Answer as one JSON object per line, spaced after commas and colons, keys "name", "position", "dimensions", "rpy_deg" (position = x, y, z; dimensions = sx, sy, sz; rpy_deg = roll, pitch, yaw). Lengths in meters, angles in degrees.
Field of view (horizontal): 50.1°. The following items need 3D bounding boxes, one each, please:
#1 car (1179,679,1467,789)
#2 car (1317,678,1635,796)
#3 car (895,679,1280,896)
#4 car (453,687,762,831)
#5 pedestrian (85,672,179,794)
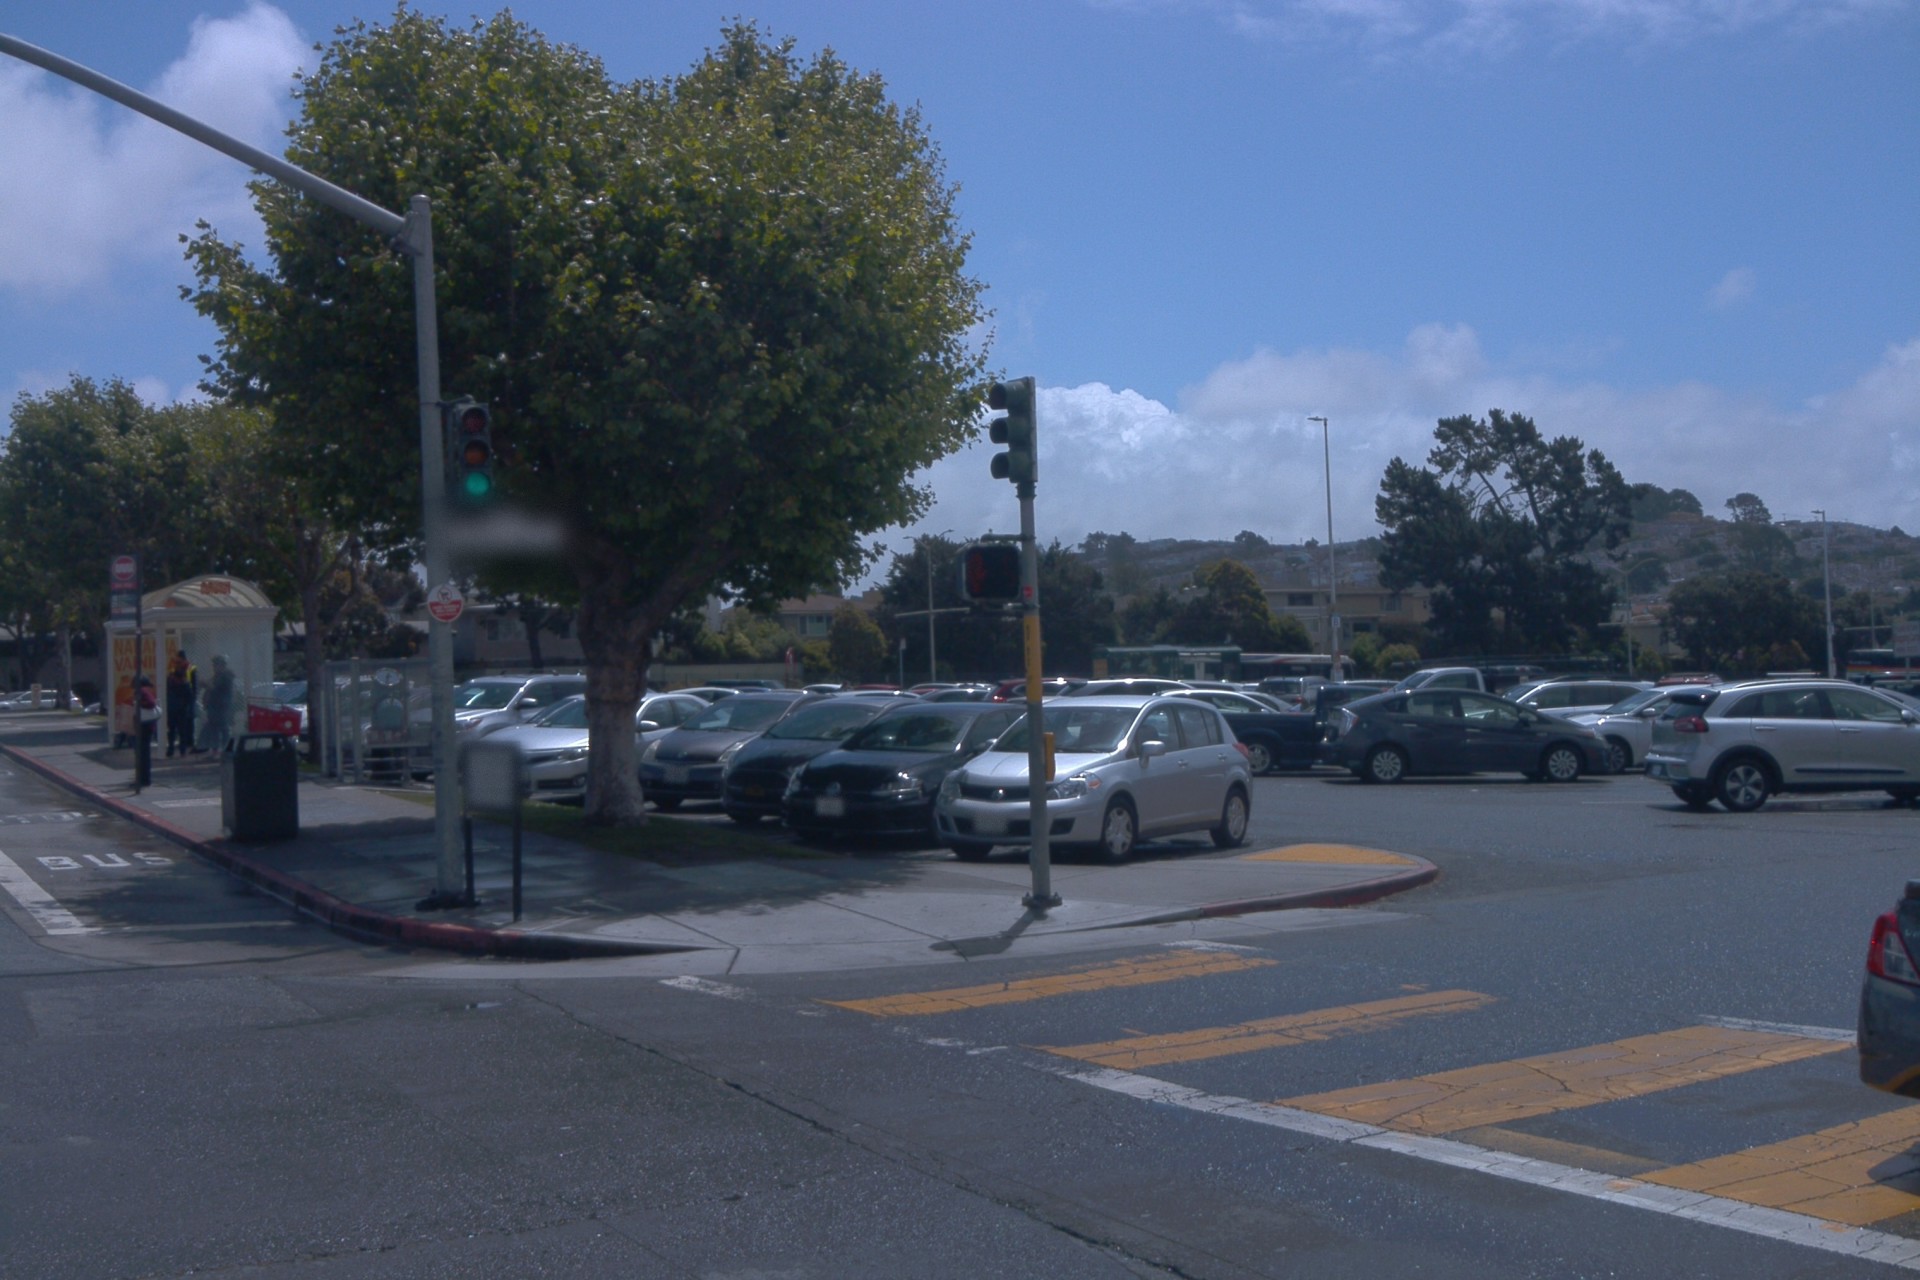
{"name": "car", "position": [6.022, 1.554, 34.522], "dimensions": [4.447, 1.710, 2.052], "rpy_deg": [0, 1, 0]}
{"name": "car", "position": [7.982, 1.482, 32.100], "dimensions": [4.448, 1.710, 2.052], "rpy_deg": [0, 1, 1]}
{"name": "car", "position": [1.356, 1.303, 19.859], "dimensions": [1.983, 1.700, 4.250], "rpy_deg": [0, 1, 31]}
{"name": "car", "position": [-4.786, 1.571, 28.617], "dimensions": [2.121, 1.660, 4.444], "rpy_deg": [0, 1, 24]}
{"name": "pedestrian", "position": [-11.532, 1.270, 28.618], "dimensions": [0.992, 1.620, 1.081], "rpy_deg": [-1, 1, -34]}
